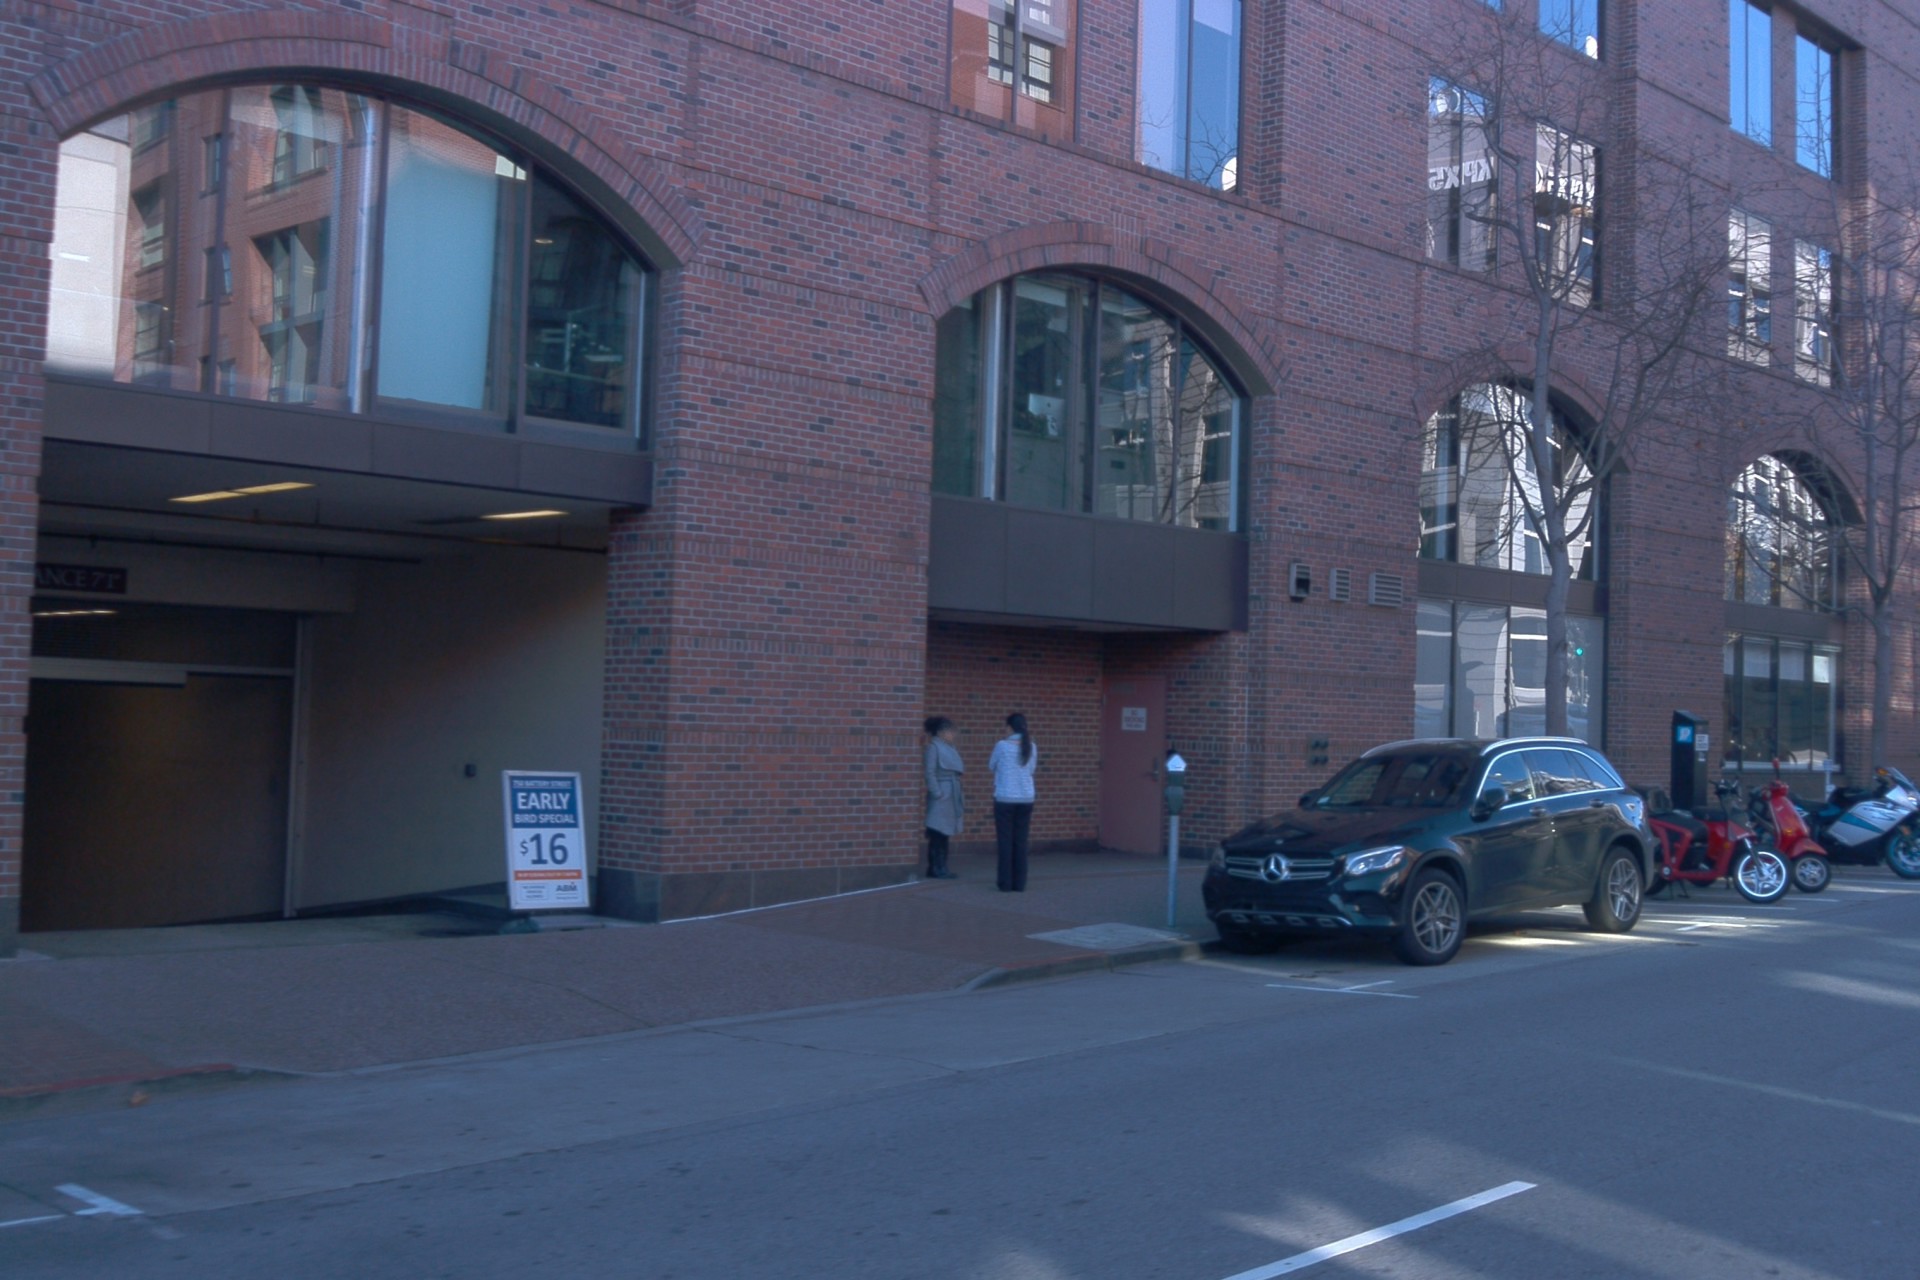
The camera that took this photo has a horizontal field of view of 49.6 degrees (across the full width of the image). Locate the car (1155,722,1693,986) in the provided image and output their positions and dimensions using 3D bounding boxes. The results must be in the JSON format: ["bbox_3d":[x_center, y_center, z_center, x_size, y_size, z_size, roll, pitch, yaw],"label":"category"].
[{"bbox_3d":[3.934,1.598,17.031,2.084,1.740,4.749,0,-1,45],"label":"car"}]

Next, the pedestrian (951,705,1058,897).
[{"bbox_3d":[0.401,1.439,18.831,0.728,1.670,0.730,1,-1,-21],"label":"pedestrian"}]

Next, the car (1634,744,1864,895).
[{"bbox_3d":[7.997,1.784,21.094,0.964,1.370,1.946,2,-1,-42],"label":"car"}]

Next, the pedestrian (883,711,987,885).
[{"bbox_3d":[-0.236,1.459,19.454,0.627,1.570,0.715,0,-1,45],"label":"pedestrian"}]

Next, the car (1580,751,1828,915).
[{"bbox_3d":[7.196,1.830,20.160,1.058,1.400,2.003,2,-1,-39],"label":"car"}]
